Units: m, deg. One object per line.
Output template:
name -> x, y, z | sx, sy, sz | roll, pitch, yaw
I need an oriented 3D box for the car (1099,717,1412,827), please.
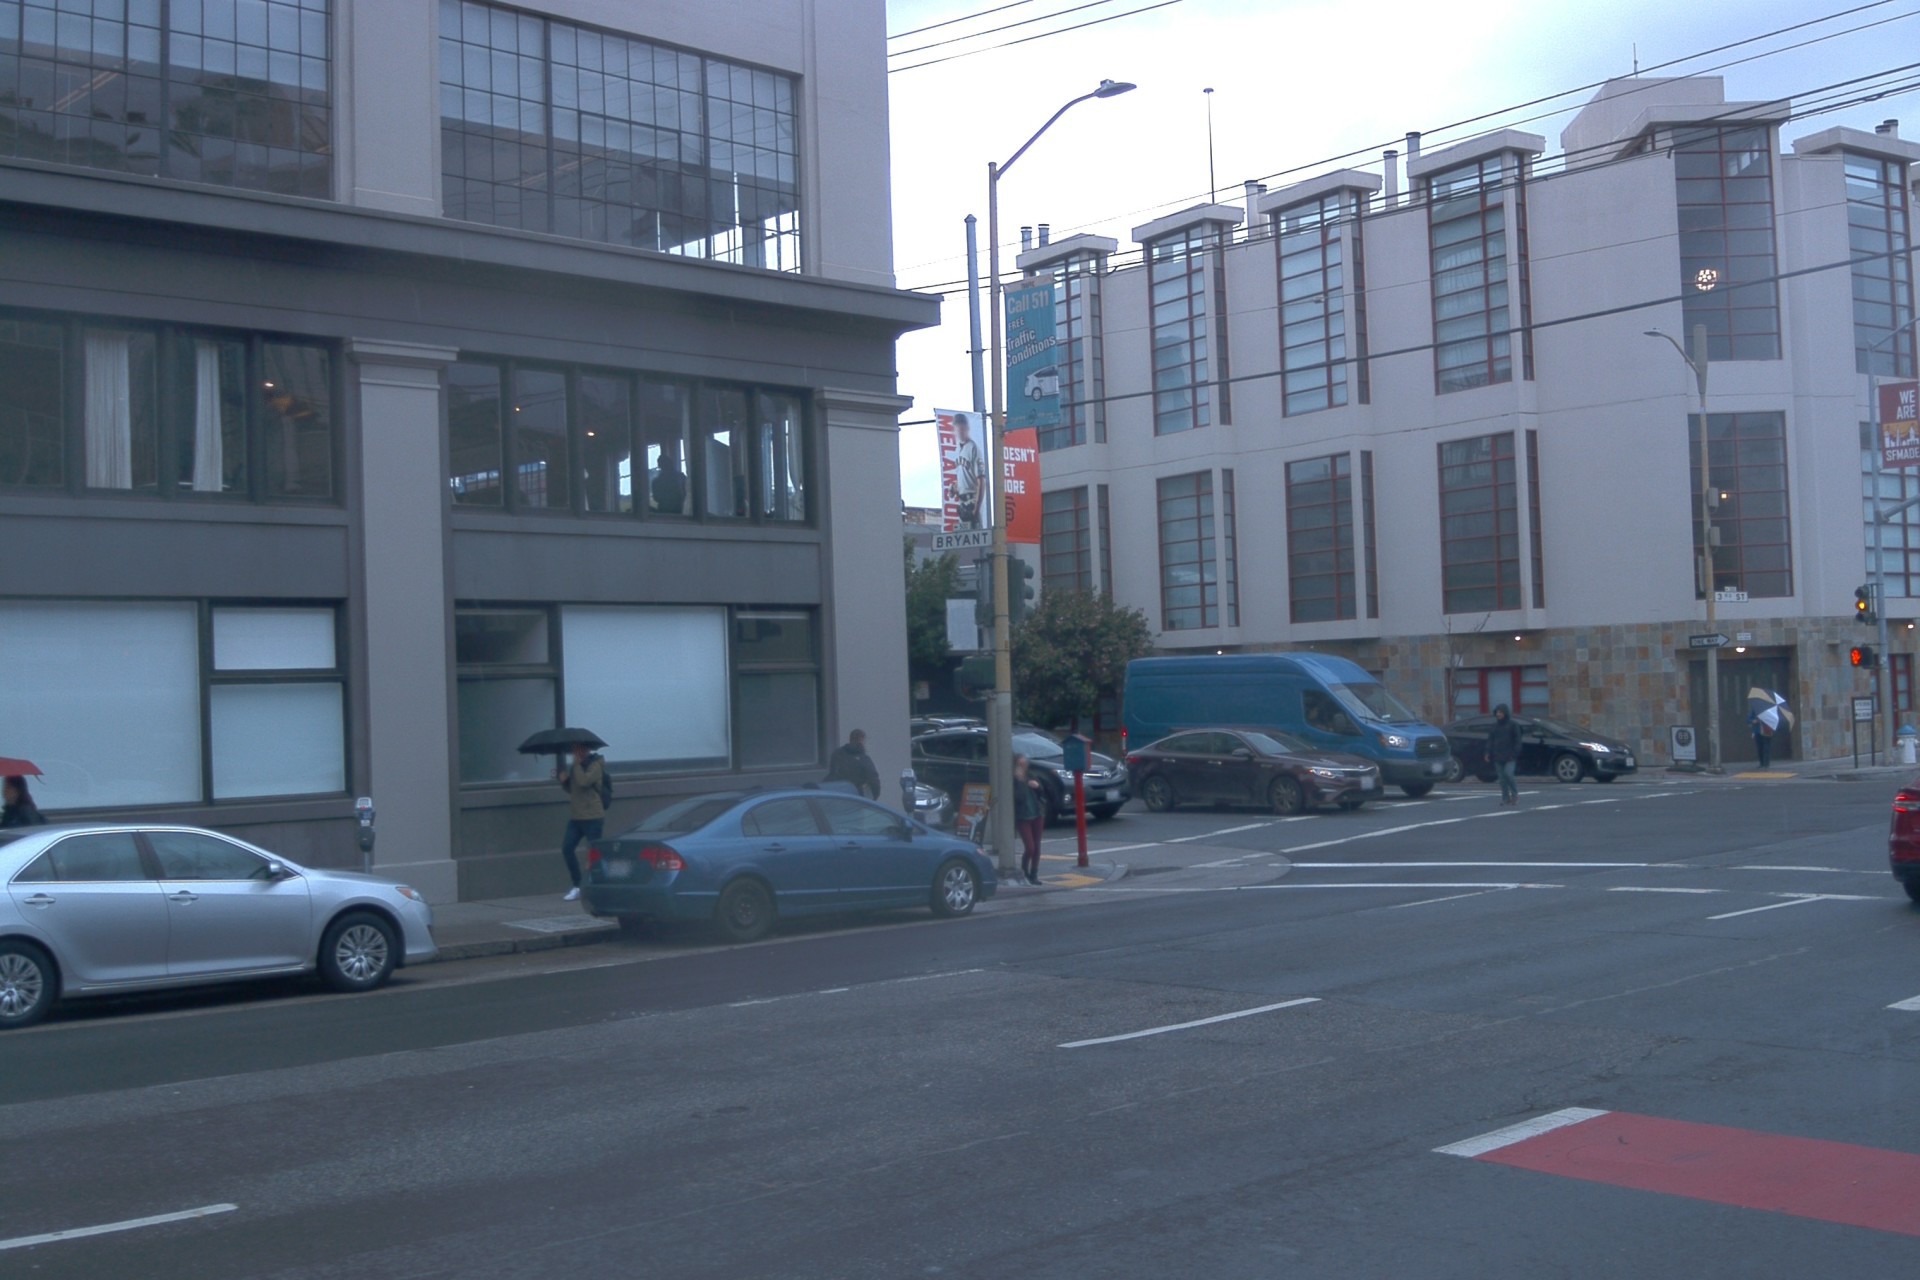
car -> 4.929, 2.171, 35.272 | 2.239, 1.530, 4.968 | 0, 0, -43

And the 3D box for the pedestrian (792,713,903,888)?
pedestrian -> -1.334, 1.881, 24.769 | 0.910, 1.990, 0.966 | 0, 0, 34

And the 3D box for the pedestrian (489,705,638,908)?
pedestrian -> -4.374, 1.798, 22.931 | 1.190, 2.110, 1.132 | 0, 0, -43

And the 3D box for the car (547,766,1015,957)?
car -> -1.685, 2.104, 20.727 | 4.430, 1.440, 1.913 | 0, 0, -44

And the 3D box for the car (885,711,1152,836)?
car -> 0.947, 2.204, 35.444 | 2.022, 1.830, 4.394 | 0, 0, -44

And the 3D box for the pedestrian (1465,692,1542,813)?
pedestrian -> 8.921, 1.830, 34.125 | 0.873, 1.920, 1.018 | 0, 0, 41

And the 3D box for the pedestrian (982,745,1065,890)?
pedestrian -> 0.767, 2.139, 25.266 | 0.826, 1.670, 0.590 | 0, 0, -39
